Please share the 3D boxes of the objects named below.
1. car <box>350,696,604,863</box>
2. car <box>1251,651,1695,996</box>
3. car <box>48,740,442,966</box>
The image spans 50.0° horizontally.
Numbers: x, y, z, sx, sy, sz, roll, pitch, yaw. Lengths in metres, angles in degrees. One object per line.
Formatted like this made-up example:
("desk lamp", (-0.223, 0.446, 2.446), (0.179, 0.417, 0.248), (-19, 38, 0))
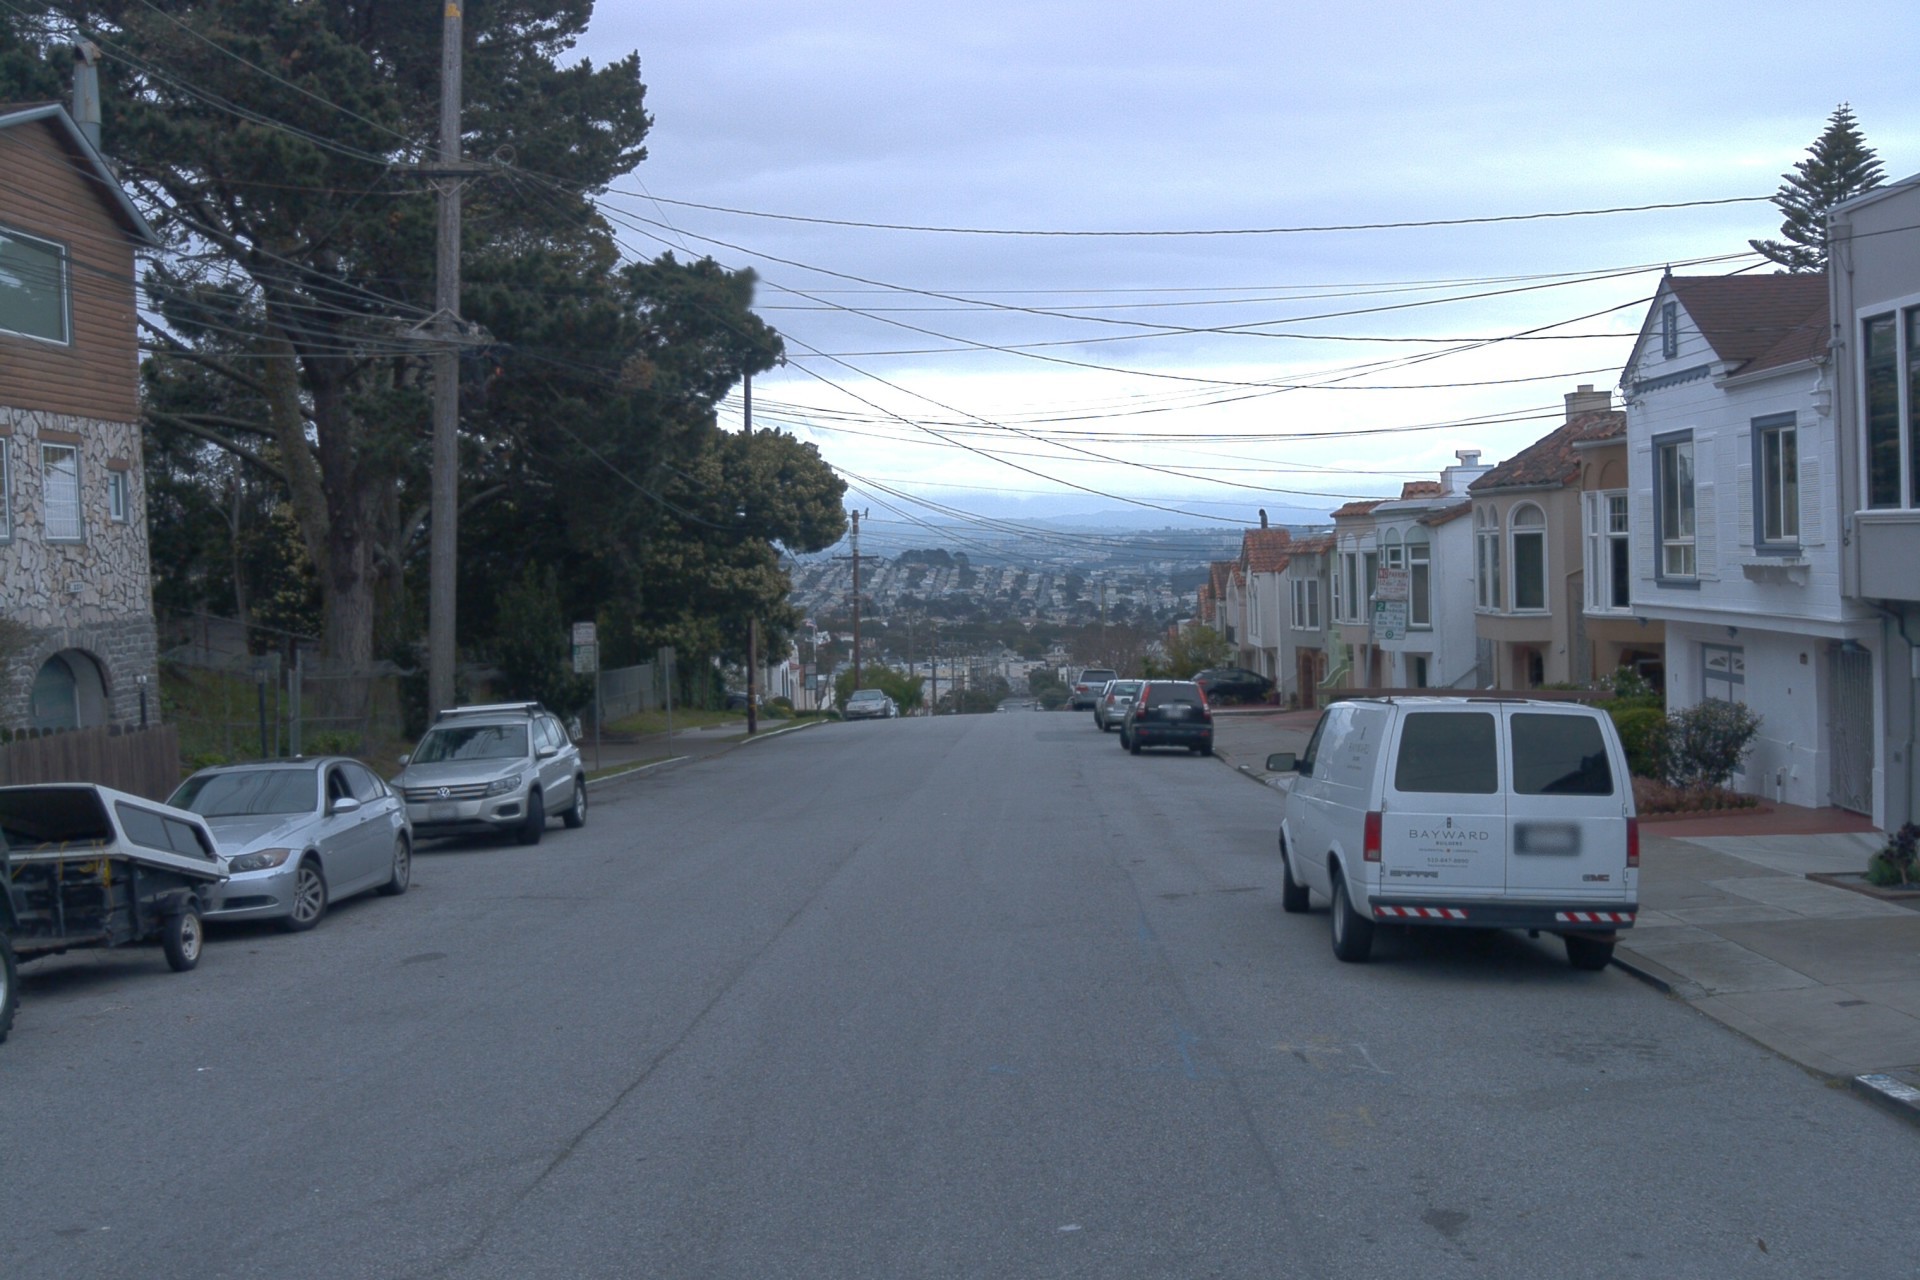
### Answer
("car", (-6.046, 1.699, 26.370), (2.107, 1.830, 4.357), (0, 0, 2))
("car", (3.663, 1.200, 15.790), (2.330, 2.195, 4.904), (0, 0, 2))
("car", (-6.128, 1.767, 18.290), (1.979, 1.530, 4.513), (0, 0, -1))
